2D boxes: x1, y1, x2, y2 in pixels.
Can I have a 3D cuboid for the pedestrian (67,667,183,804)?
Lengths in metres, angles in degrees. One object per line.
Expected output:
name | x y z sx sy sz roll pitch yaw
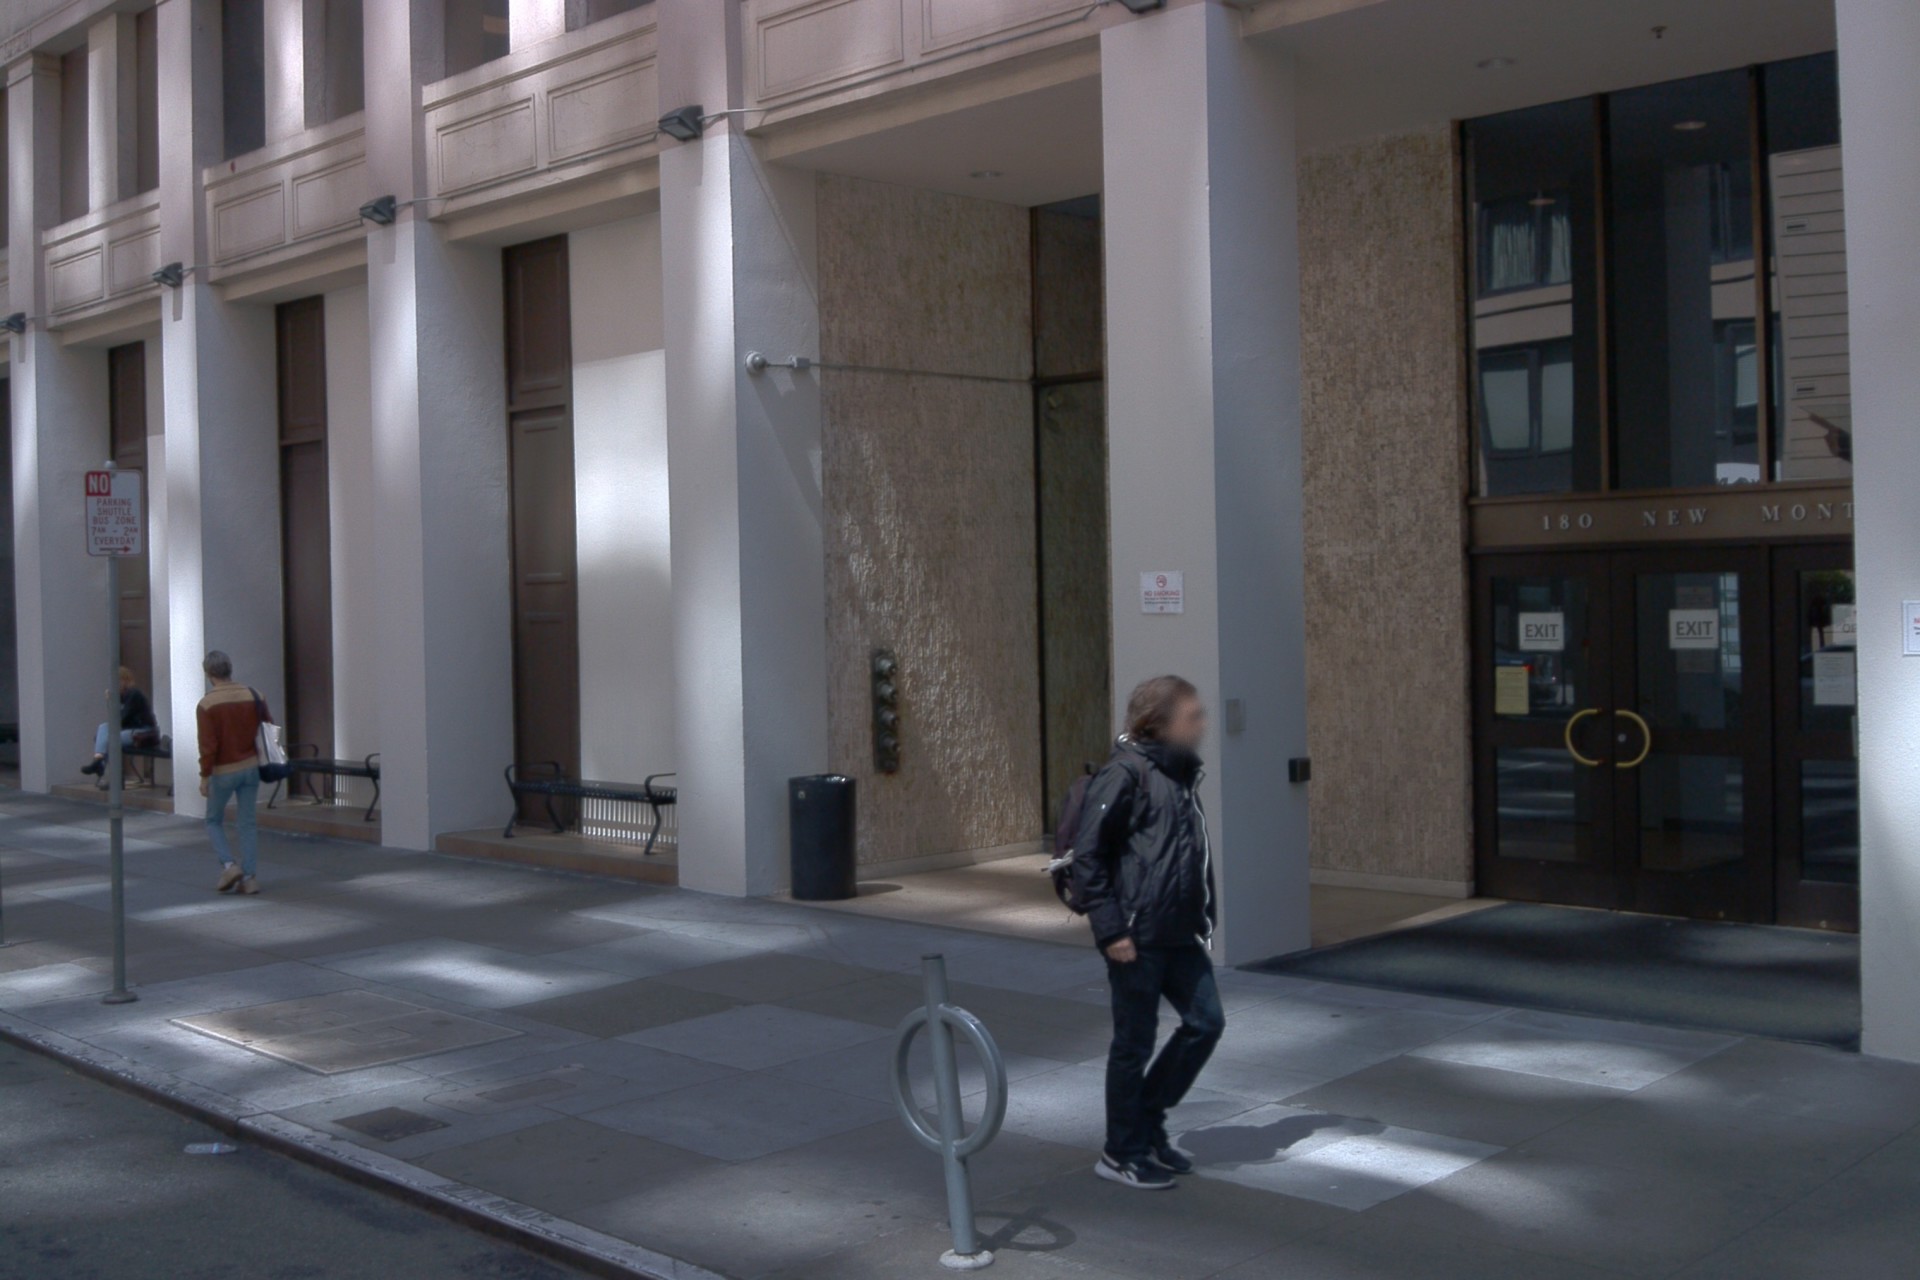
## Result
pedestrian | -8.453 0.951 20.822 0.902 1.330 0.662 0 0 -44

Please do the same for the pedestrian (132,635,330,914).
pedestrian | -5.113 0.893 14.406 1.146 1.846 0.893 0 0 45

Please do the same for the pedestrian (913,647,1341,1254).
pedestrian | 0.585 0.975 7.147 1.192 1.886 0.893 0 0 35
